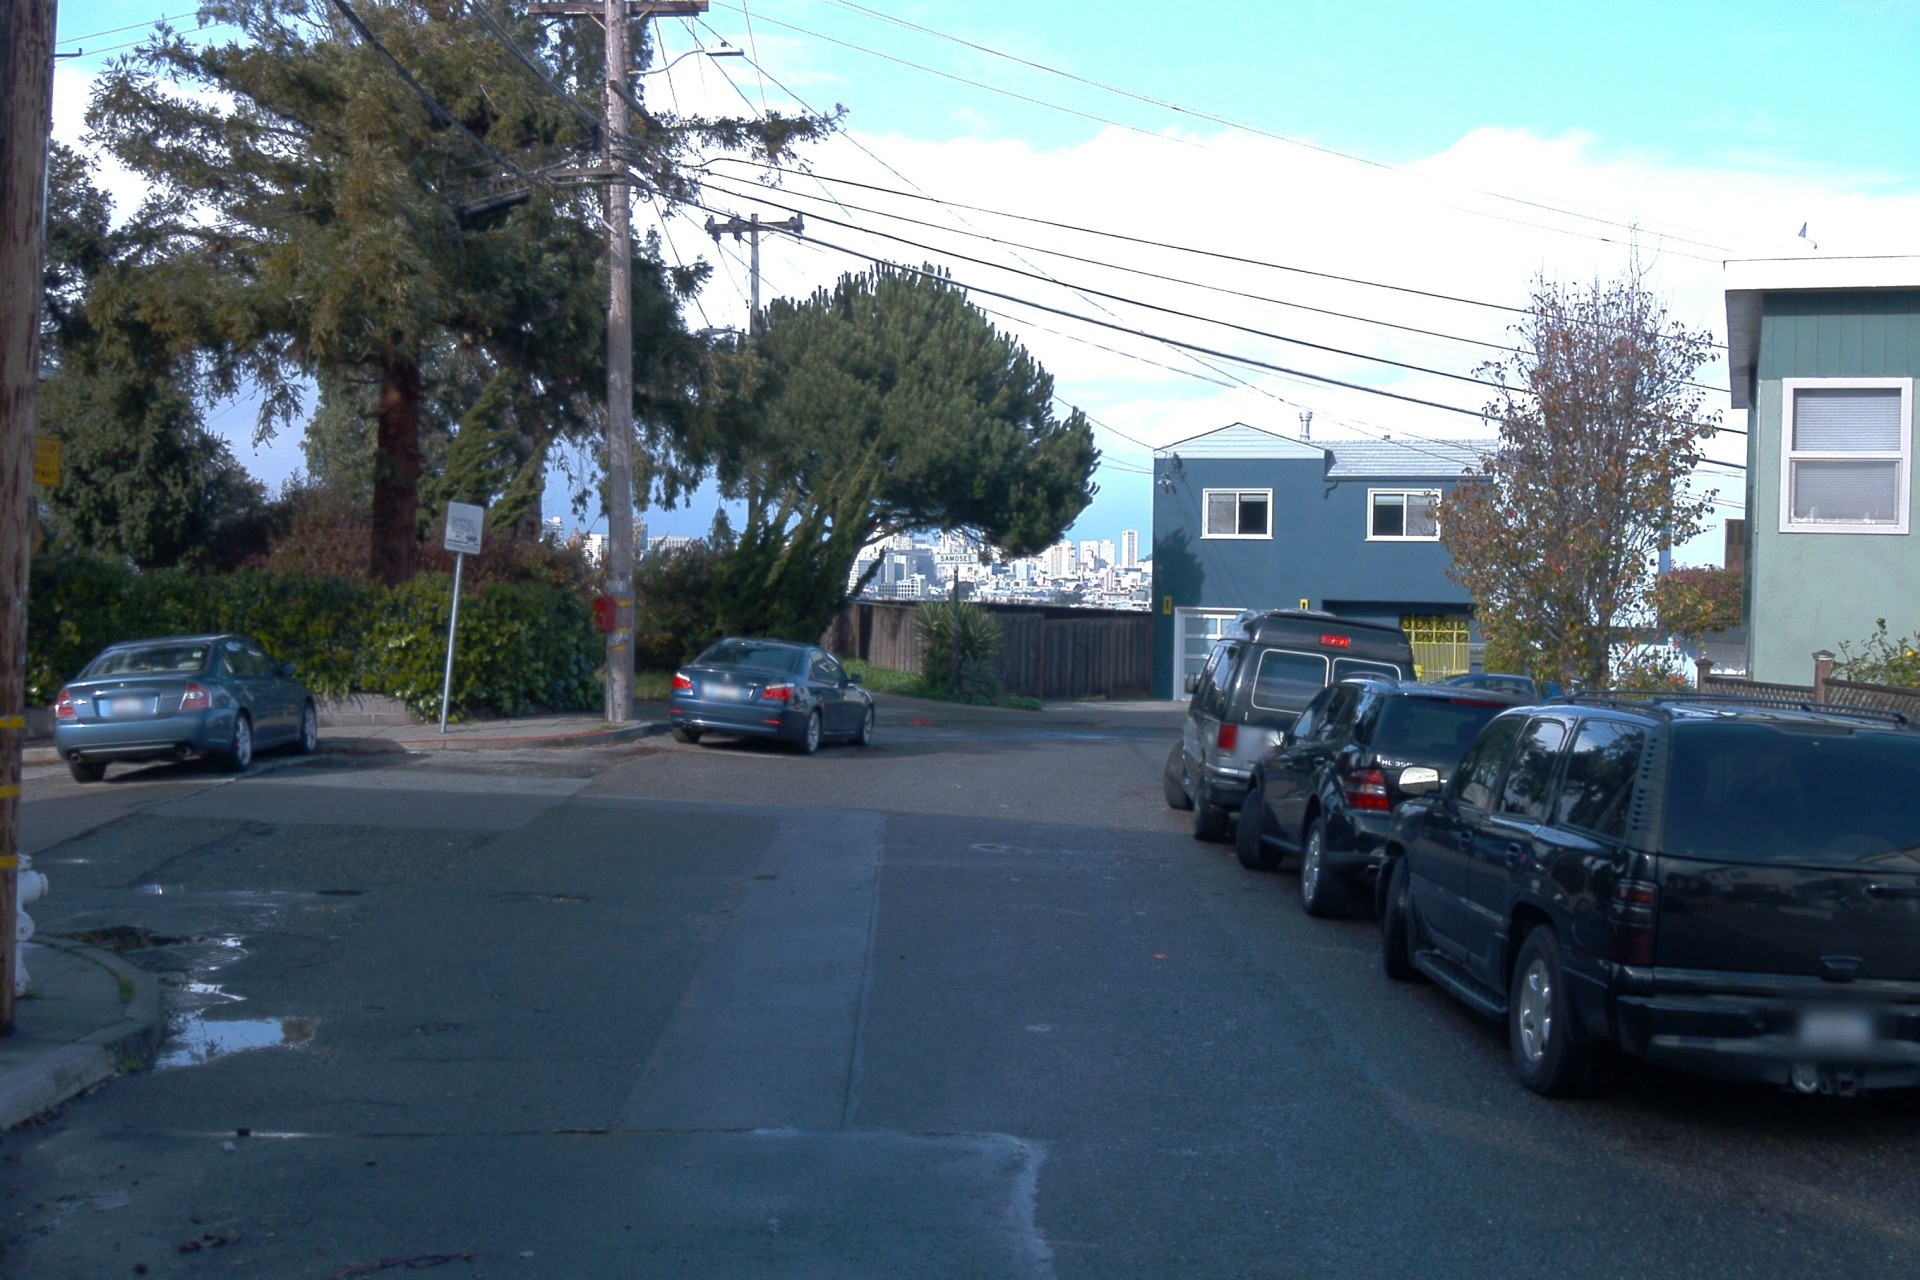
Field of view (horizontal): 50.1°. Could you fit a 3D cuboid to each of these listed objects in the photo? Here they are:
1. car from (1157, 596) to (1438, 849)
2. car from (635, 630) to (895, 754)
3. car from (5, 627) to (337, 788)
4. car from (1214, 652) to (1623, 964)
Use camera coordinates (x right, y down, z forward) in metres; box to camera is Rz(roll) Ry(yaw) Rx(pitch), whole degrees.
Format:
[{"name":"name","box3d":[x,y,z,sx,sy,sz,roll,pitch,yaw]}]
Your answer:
[{"name":"car","box3d":[3.360,0.715,21.650,2.287,2.280,5.498,1,1,3]},{"name":"car","box3d":[-2.502,0.626,27.674,2.158,1.430,4.595,1,1,12]},{"name":"car","box3d":[-8.145,0.623,21.711,1.906,1.450,4.515,1,1,-2]},{"name":"car","box3d":[3.375,1.145,16.188,2.070,1.960,4.717,1,1,-1]}]
